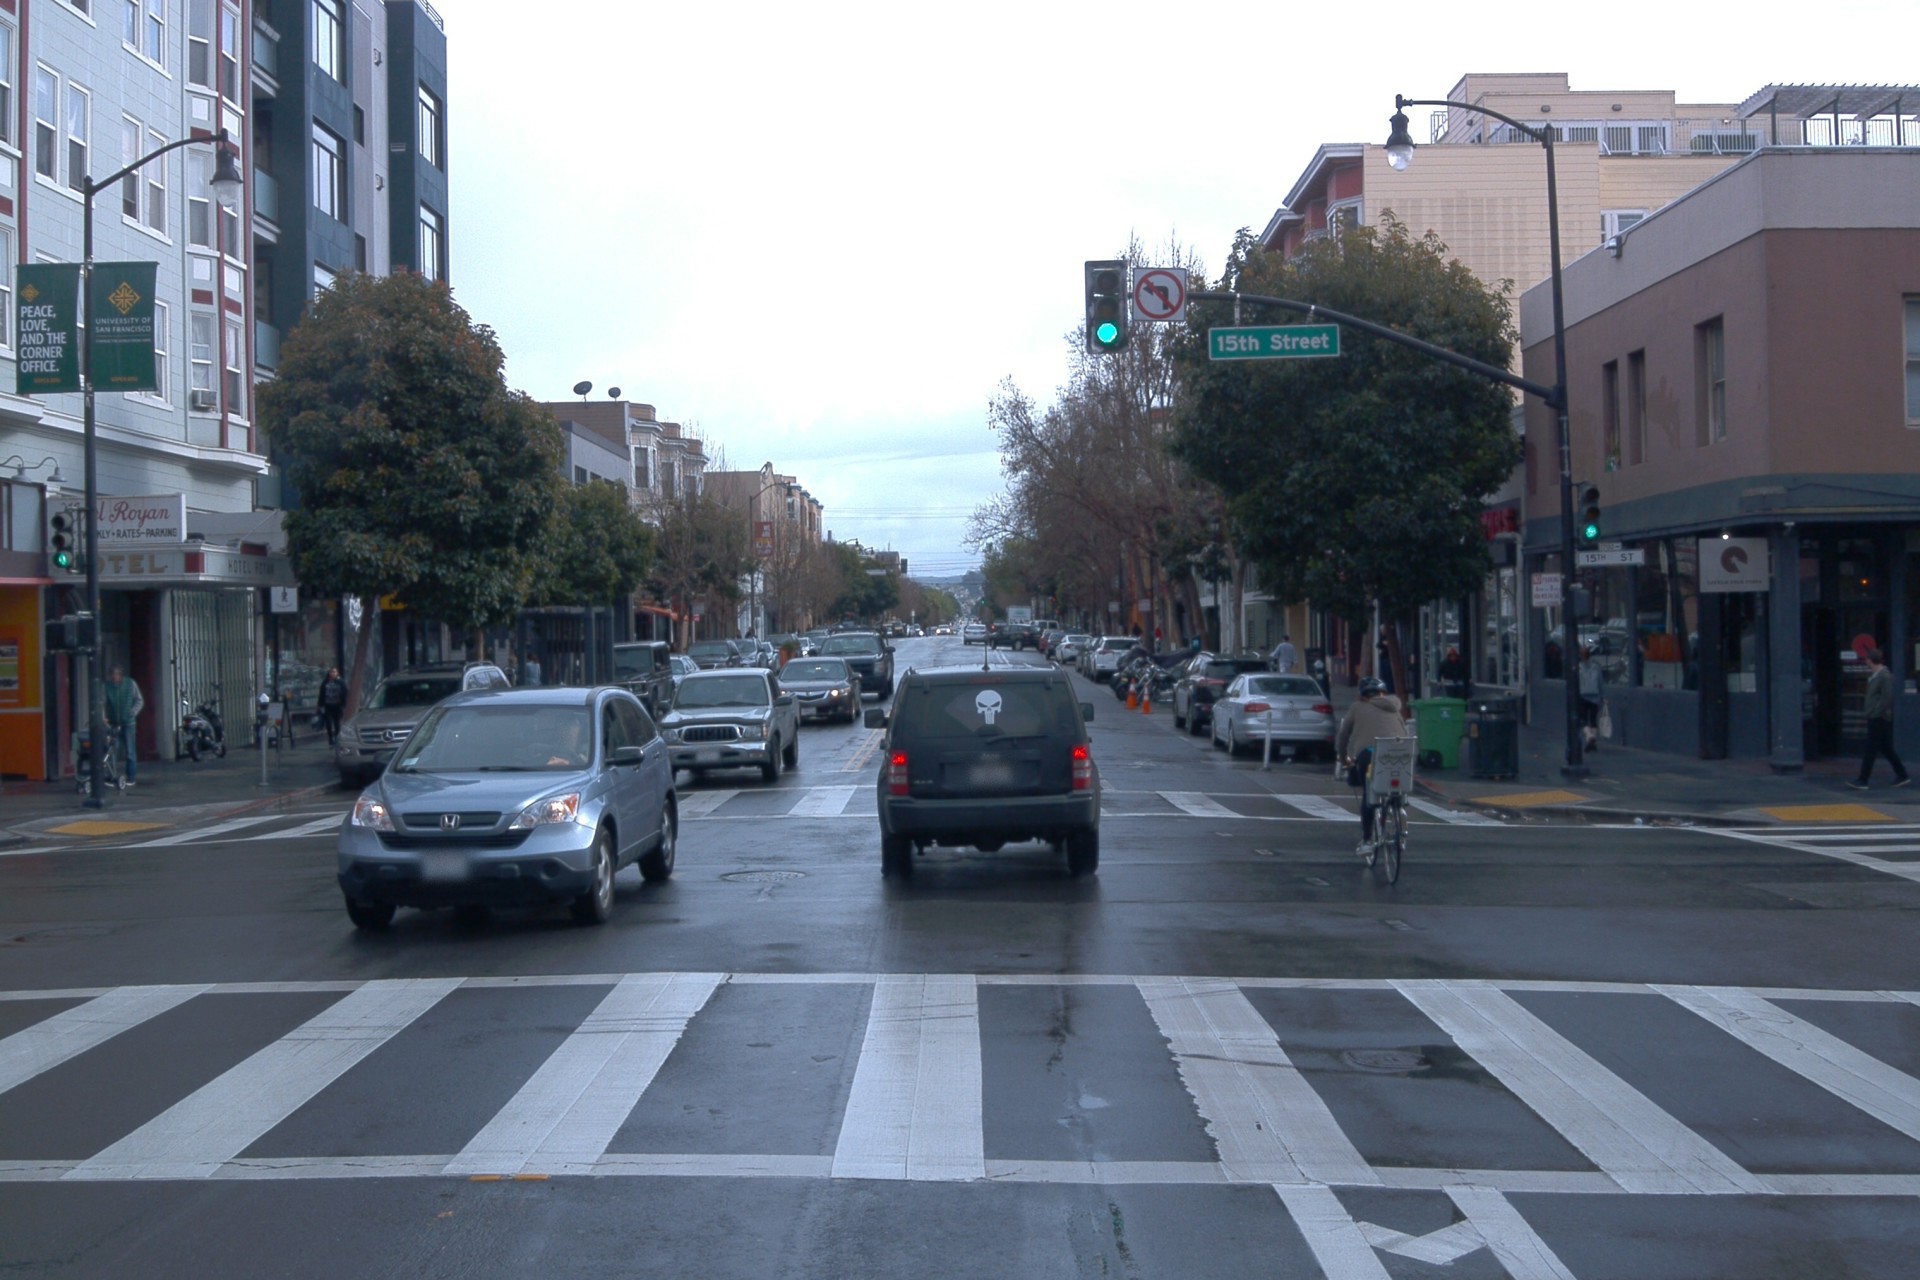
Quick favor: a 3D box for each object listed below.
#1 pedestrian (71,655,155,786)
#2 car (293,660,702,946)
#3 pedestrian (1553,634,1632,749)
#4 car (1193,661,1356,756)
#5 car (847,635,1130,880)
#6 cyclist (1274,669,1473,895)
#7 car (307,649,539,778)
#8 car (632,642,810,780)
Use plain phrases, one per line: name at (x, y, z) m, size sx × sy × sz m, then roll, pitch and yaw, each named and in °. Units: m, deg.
pedestrian at (-12.703, 1.196, 30.695) m, size 0.870 × 1.910 × 0.948 m, roll 1°, pitch 0°, yaw -1°
car at (-3.333, 1.094, 15.720) m, size 2.010 × 1.800 × 4.501 m, roll 1°, pitch 0°, yaw 1°
pedestrian at (10.097, 0.809, 32.674) m, size 0.996 × 1.800 × 0.925 m, roll 1°, pitch 0°, yaw 3°
car at (5.493, 1.156, 36.316) m, size 2.078 × 1.490 × 4.719 m, roll 0°, pitch 0°, yaw -1°
car at (0.196, 0.909, 18.162) m, size 2.194 × 1.885 × 4.387 m, roll 1°, pitch 0°, yaw -1°
cyclist at (3.380, 1.120, 16.961) m, size 1.265 × 1.710 × 2.011 m, roll 1°, pitch 0°, yaw 2°
car at (-8.716, 1.125, 33.765) m, size 2.242 × 1.870 × 5.560 m, roll 1°, pitch 0°, yaw 1°
car at (-3.440, 0.969, 30.392) m, size 1.970 × 1.830 × 5.201 m, roll 1°, pitch 0°, yaw 1°
